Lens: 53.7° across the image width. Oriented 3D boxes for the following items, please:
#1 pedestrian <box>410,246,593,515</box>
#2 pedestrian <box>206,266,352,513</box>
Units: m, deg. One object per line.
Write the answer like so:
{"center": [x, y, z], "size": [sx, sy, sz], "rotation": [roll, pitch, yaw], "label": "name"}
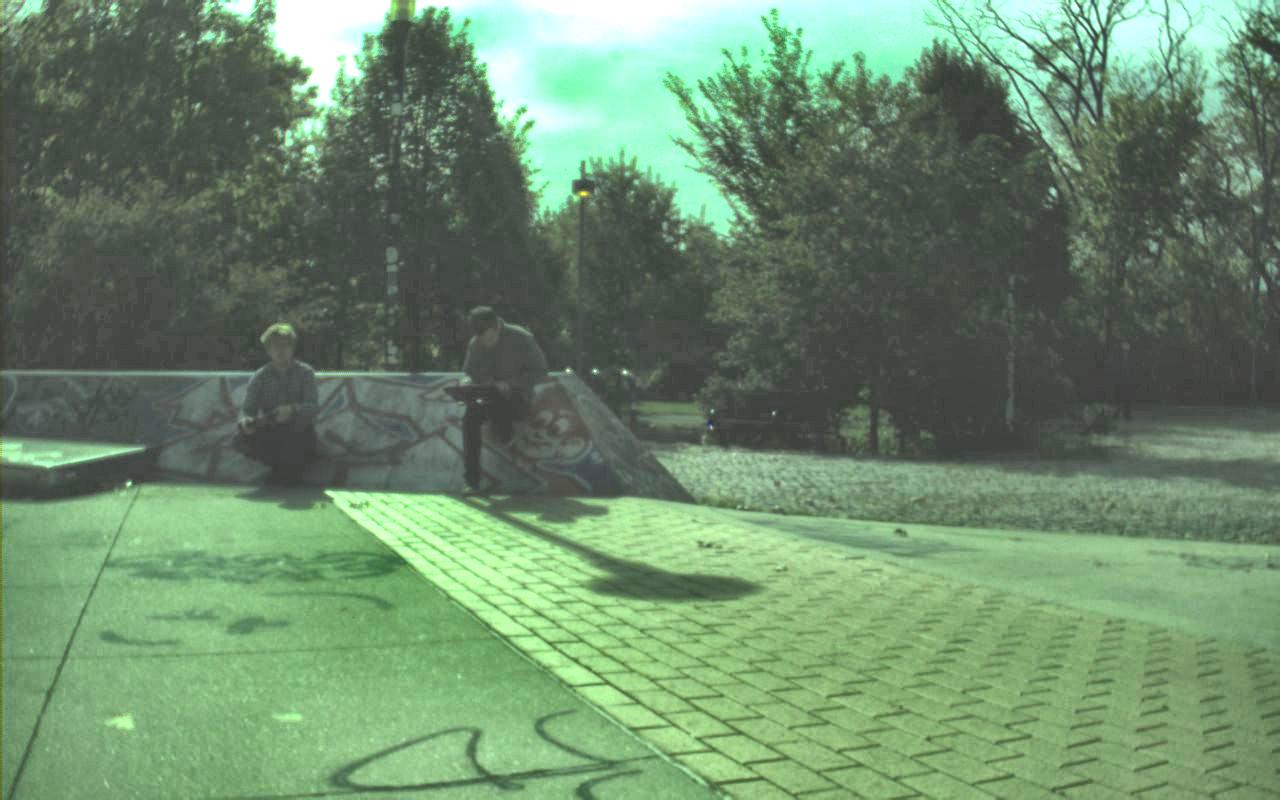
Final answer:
{"center": [-0.921, -0.132, 8.243], "size": [0.883, 1.641, 0.835], "rotation": [0, 0, -42], "label": "pedestrian"}
{"center": [-2.469, -0.076, 8.341], "size": [0.850, 1.604, 0.837], "rotation": [0, 0, -2], "label": "pedestrian"}
